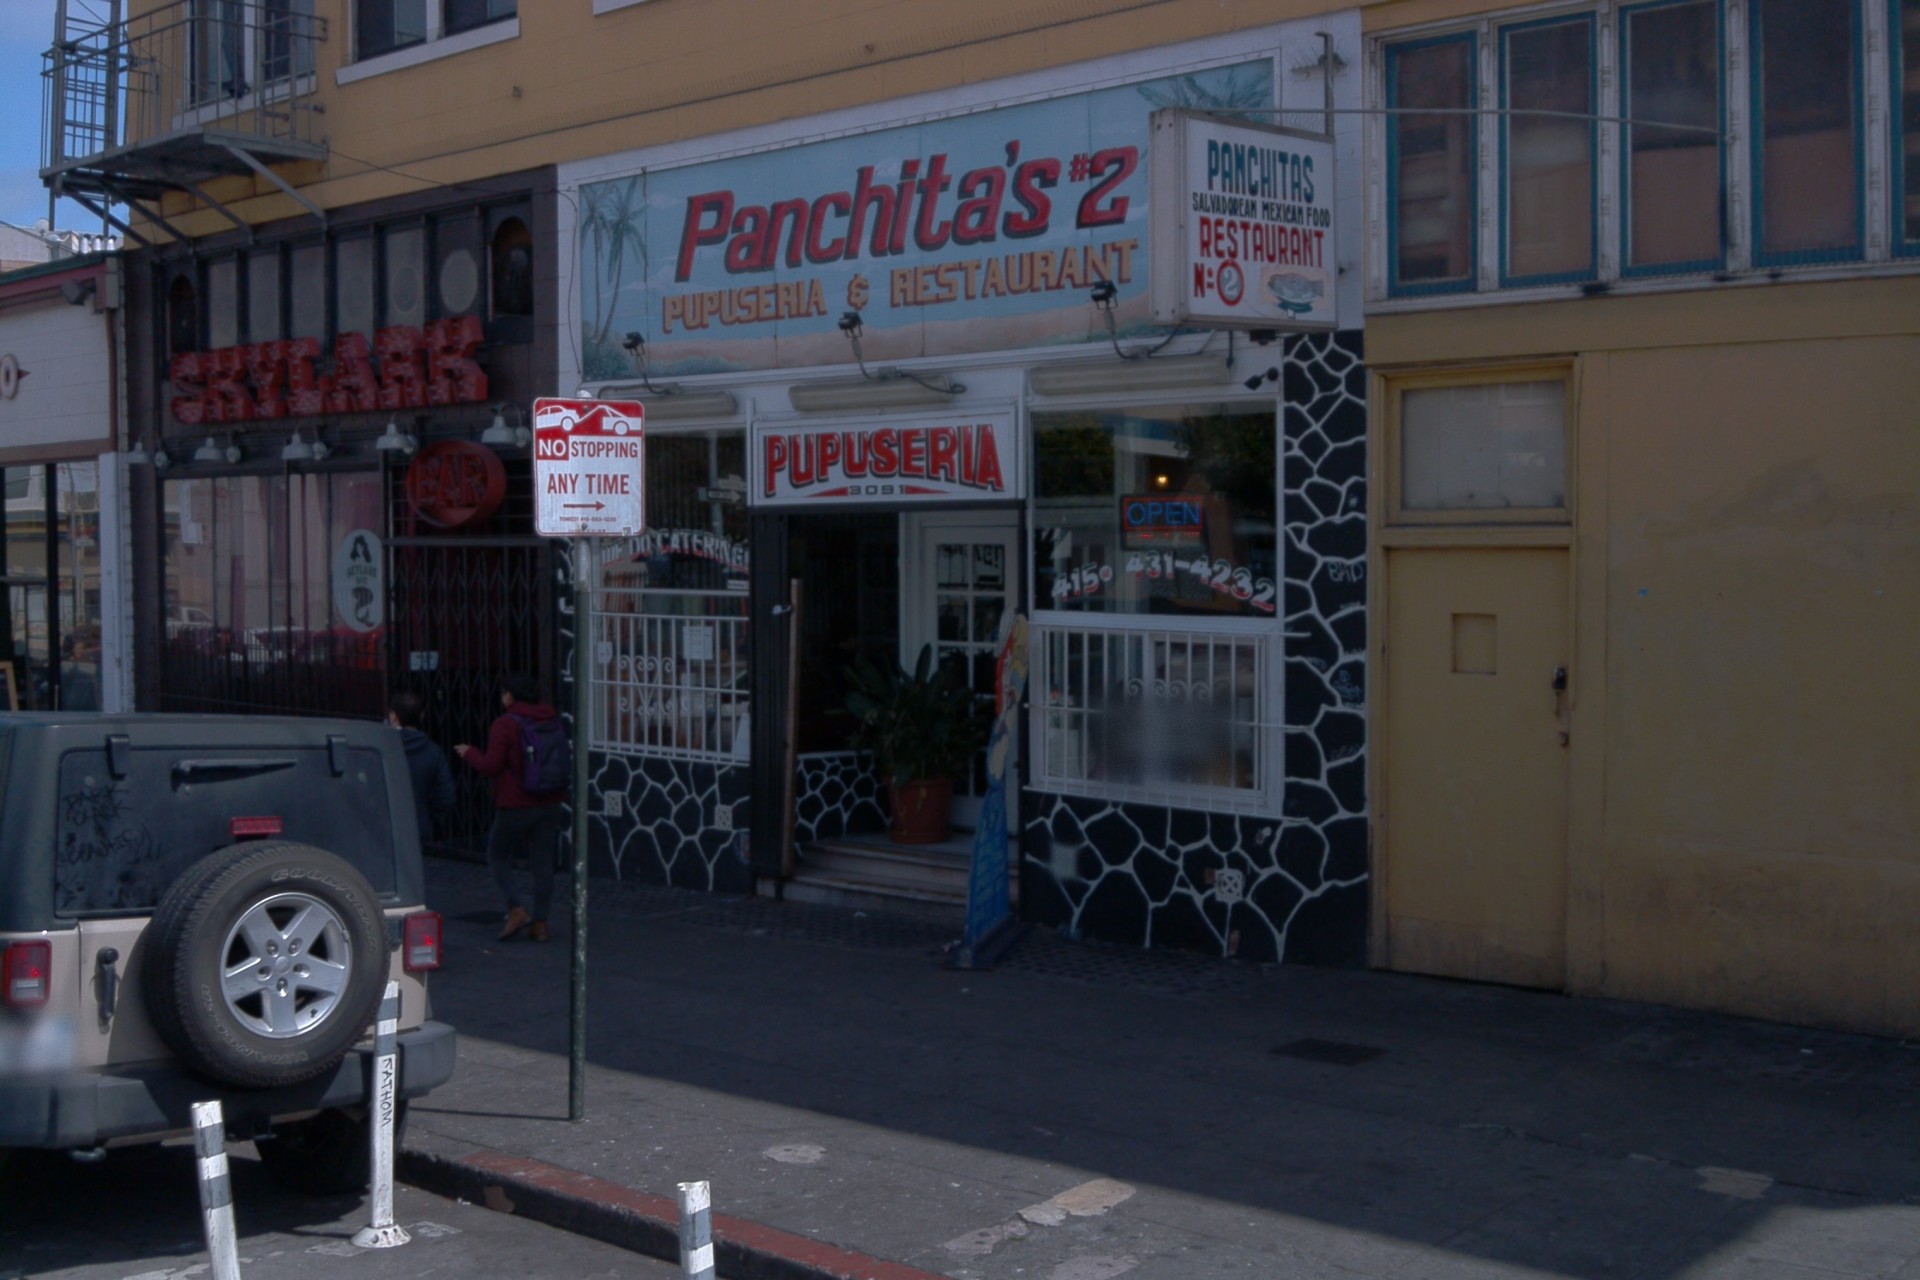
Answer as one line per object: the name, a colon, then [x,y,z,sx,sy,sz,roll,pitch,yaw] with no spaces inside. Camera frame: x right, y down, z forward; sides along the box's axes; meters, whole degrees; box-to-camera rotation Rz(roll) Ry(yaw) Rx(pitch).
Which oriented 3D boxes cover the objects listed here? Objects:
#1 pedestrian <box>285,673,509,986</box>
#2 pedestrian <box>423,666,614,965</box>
pedestrian: [-3.171,1.018,11.572,0.878,1.630,0.919,0,0,-44]
pedestrian: [-2.596,0.991,12.089,0.743,1.650,0.865,0,0,-44]
